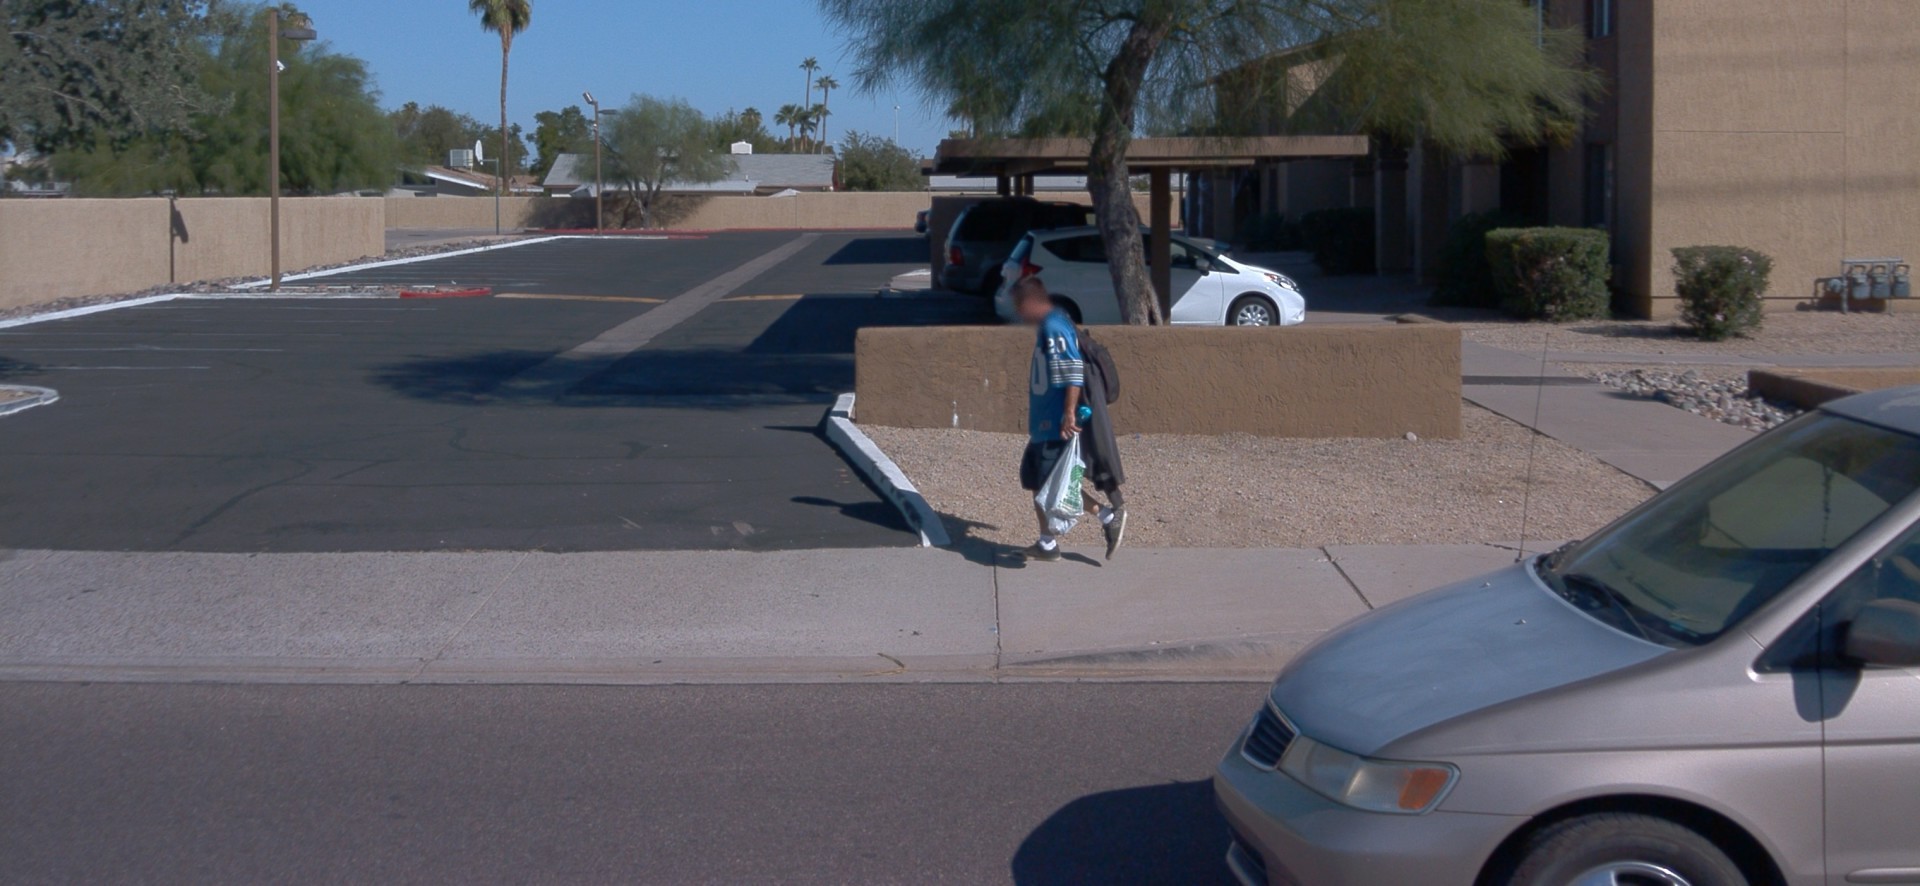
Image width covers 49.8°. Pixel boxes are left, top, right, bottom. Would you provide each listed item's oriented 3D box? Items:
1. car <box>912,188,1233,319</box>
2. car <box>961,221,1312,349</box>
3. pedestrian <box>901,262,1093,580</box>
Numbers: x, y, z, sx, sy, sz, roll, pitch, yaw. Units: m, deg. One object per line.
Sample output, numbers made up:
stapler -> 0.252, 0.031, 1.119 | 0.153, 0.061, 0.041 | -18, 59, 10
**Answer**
car -> 1.719, -3.012, 32.697 | 4.937, 1.988, 1.968 | 0, 3, -1
car -> 2.252, -2.110, 27.201 | 4.379, 1.597, 1.941 | -1, 3, -3
pedestrian -> 0.213, -0.172, 12.062 | 1.060, 1.749, 1.157 | 0, 2, 1
